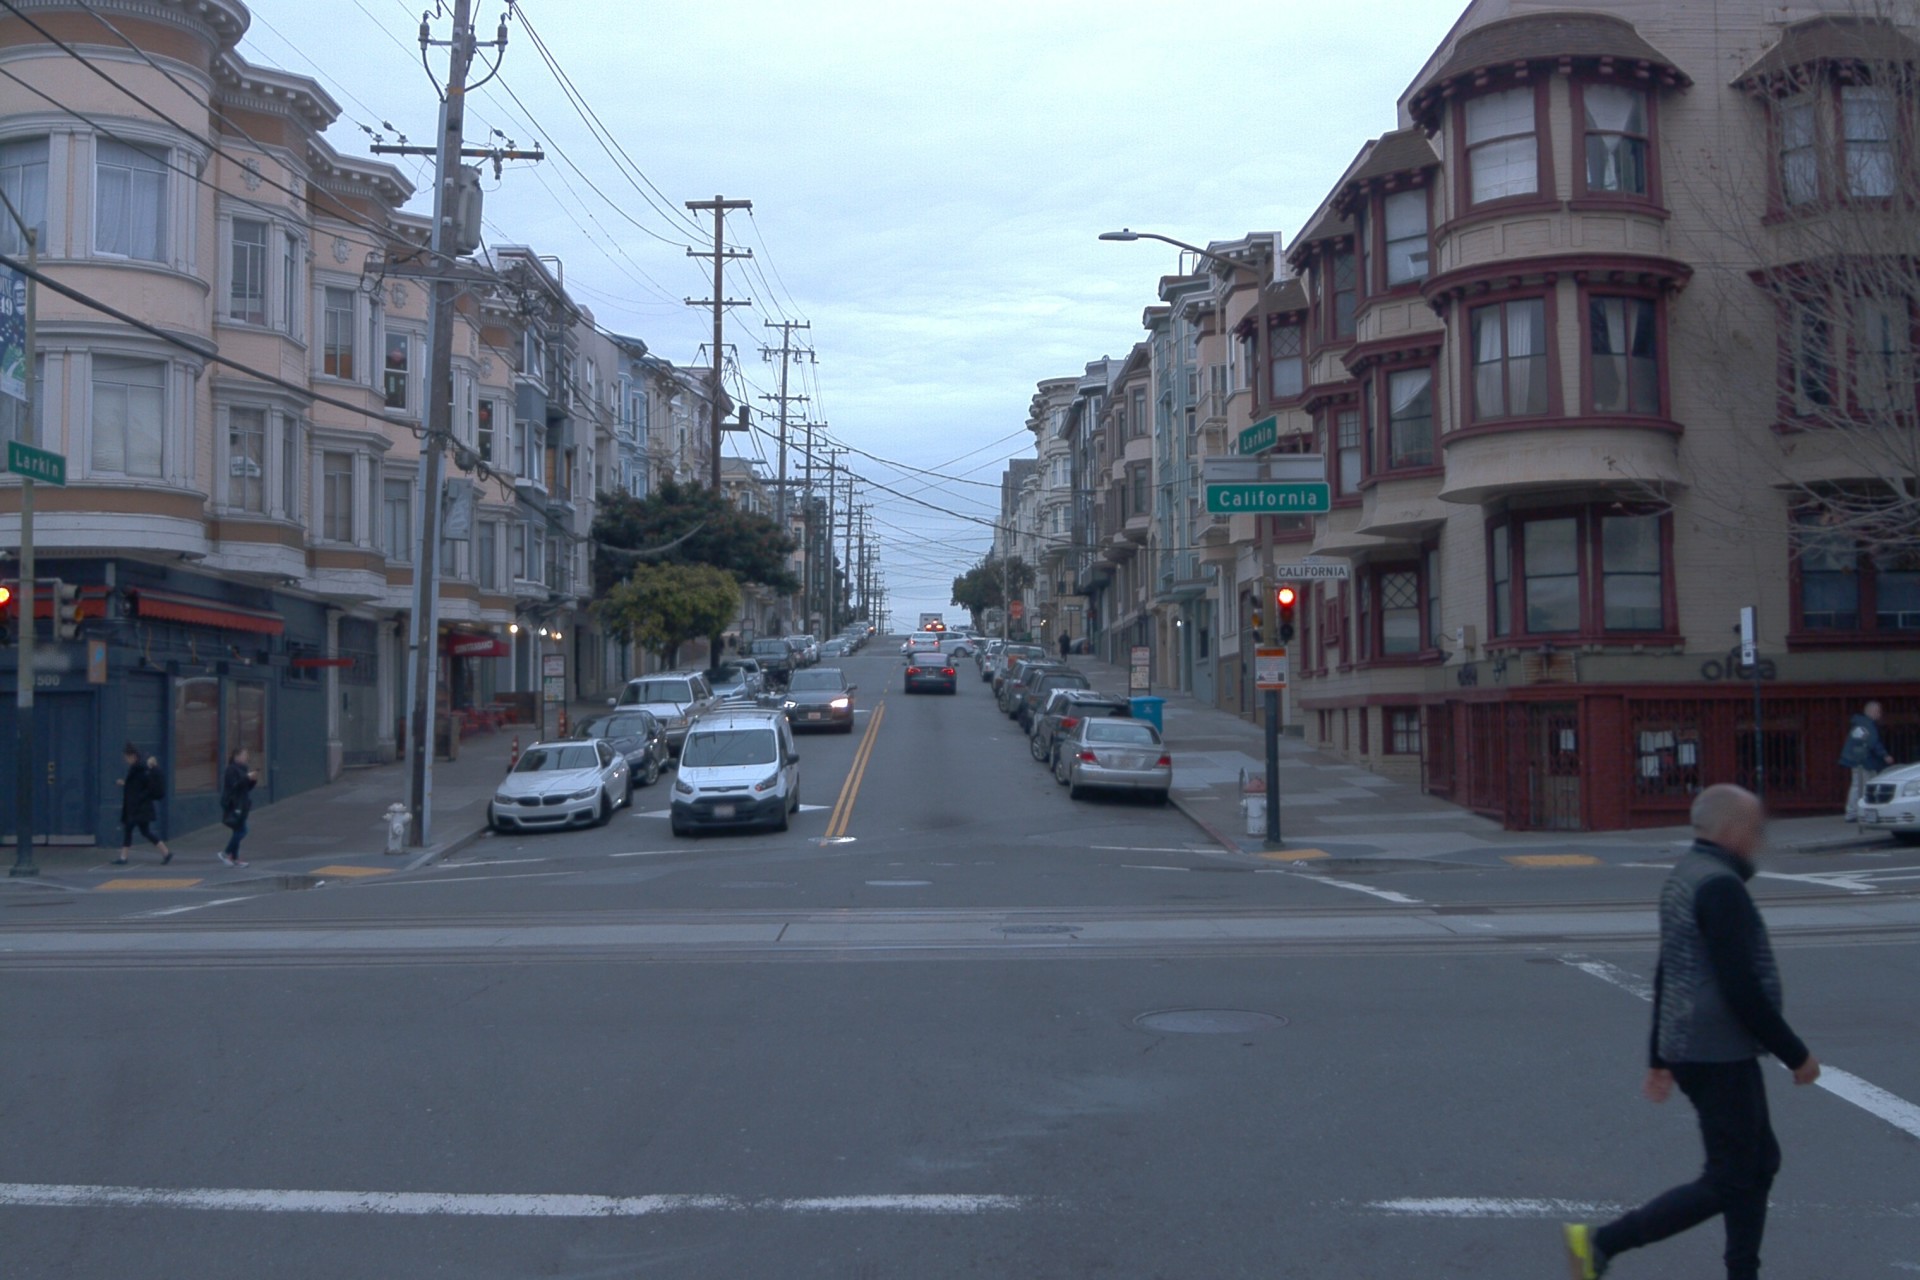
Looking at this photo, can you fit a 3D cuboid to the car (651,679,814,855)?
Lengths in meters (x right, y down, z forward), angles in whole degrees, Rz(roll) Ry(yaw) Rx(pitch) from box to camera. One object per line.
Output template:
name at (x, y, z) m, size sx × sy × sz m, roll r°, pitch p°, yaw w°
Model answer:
car at (-3.617, 1.974, 33.588) m, size 2.196 × 2.490 × 4.690 m, roll 0°, pitch 1°, yaw -1°

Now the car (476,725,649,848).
car at (-6.809, 2.475, 35.708) m, size 2.150 × 1.707 × 4.680 m, roll 0°, pitch 1°, yaw -1°

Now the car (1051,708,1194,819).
car at (2.941, 2.231, 38.182) m, size 2.108 × 1.700 × 4.470 m, roll 0°, pitch 1°, yaw -2°

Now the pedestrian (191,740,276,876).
pedestrian at (-10.040, 2.314, 28.452) m, size 0.941 × 1.800 × 0.776 m, roll 0°, pitch 1°, yaw -5°

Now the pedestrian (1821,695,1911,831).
pedestrian at (12.653, 1.700, 28.748) m, size 0.908 × 1.830 × 0.914 m, roll 0°, pitch 1°, yaw 6°

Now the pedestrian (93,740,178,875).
pedestrian at (-11.585, 2.339, 28.918) m, size 0.943 × 1.820 × 0.723 m, roll 0°, pitch 1°, yaw -8°
